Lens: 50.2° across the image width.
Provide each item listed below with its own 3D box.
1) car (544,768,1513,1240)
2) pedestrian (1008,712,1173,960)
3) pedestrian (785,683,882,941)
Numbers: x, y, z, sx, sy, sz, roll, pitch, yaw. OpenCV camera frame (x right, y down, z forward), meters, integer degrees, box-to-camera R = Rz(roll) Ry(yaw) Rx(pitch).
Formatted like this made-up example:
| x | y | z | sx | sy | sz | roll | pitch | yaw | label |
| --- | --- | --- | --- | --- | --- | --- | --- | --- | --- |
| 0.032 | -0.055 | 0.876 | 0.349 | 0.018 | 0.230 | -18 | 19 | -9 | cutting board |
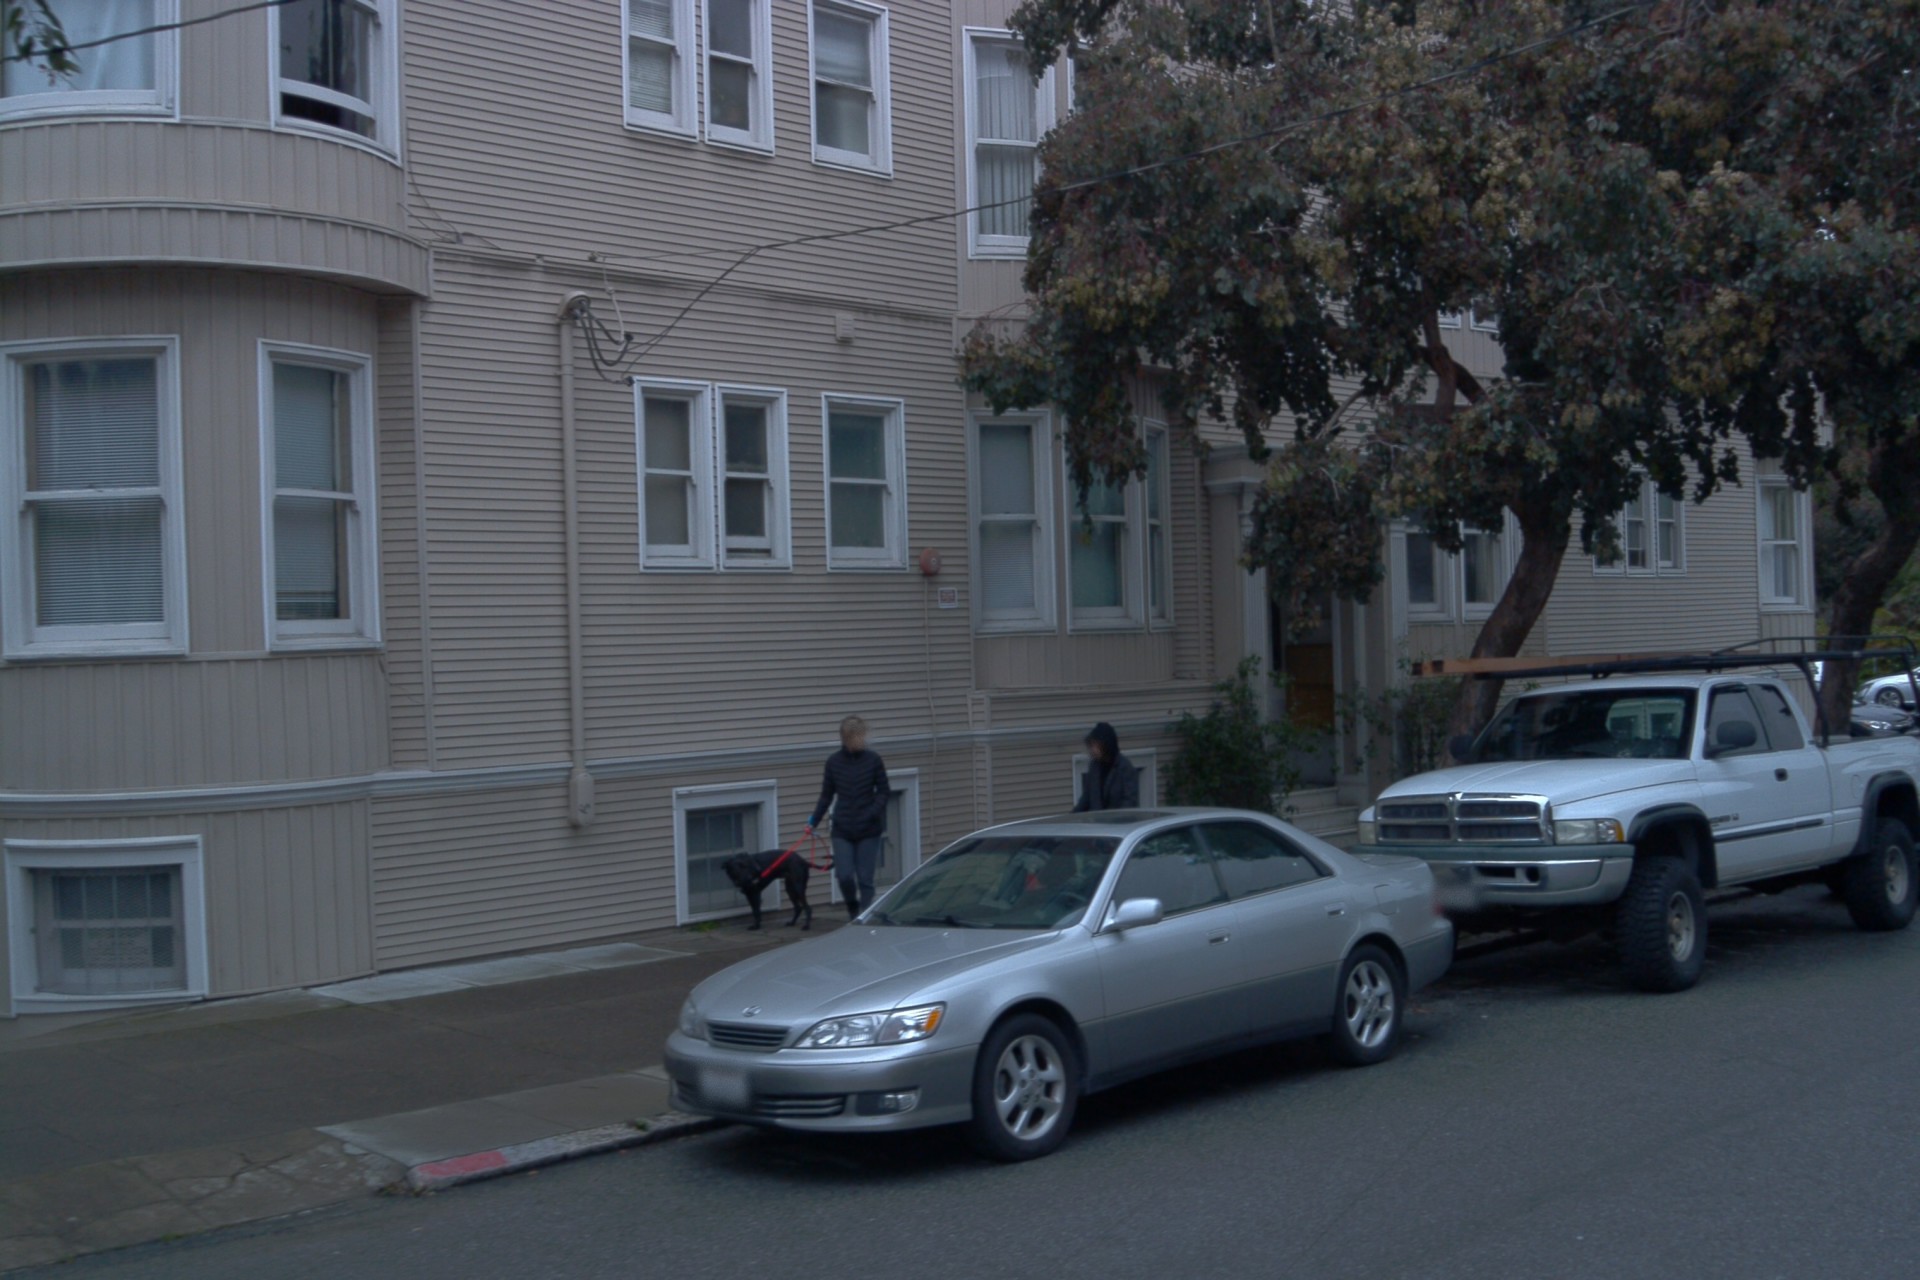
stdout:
| x | y | z | sx | sy | sz | roll | pitch | yaw | label |
| --- | --- | --- | --- | --- | --- | --- | --- | --- | --- |
| 0.558 | 1.525 | 10.172 | 2.144 | 1.430 | 4.745 | 1 | 1 | 45 | car |
| 0.934 | 1.372 | 14.702 | 0.900 | 1.650 | 0.749 | 1 | 1 | 44 | pedestrian |
| -0.933 | 1.259 | 15.225 | 0.647 | 1.860 | 0.576 | 0 | 1 | 3 | pedestrian |
